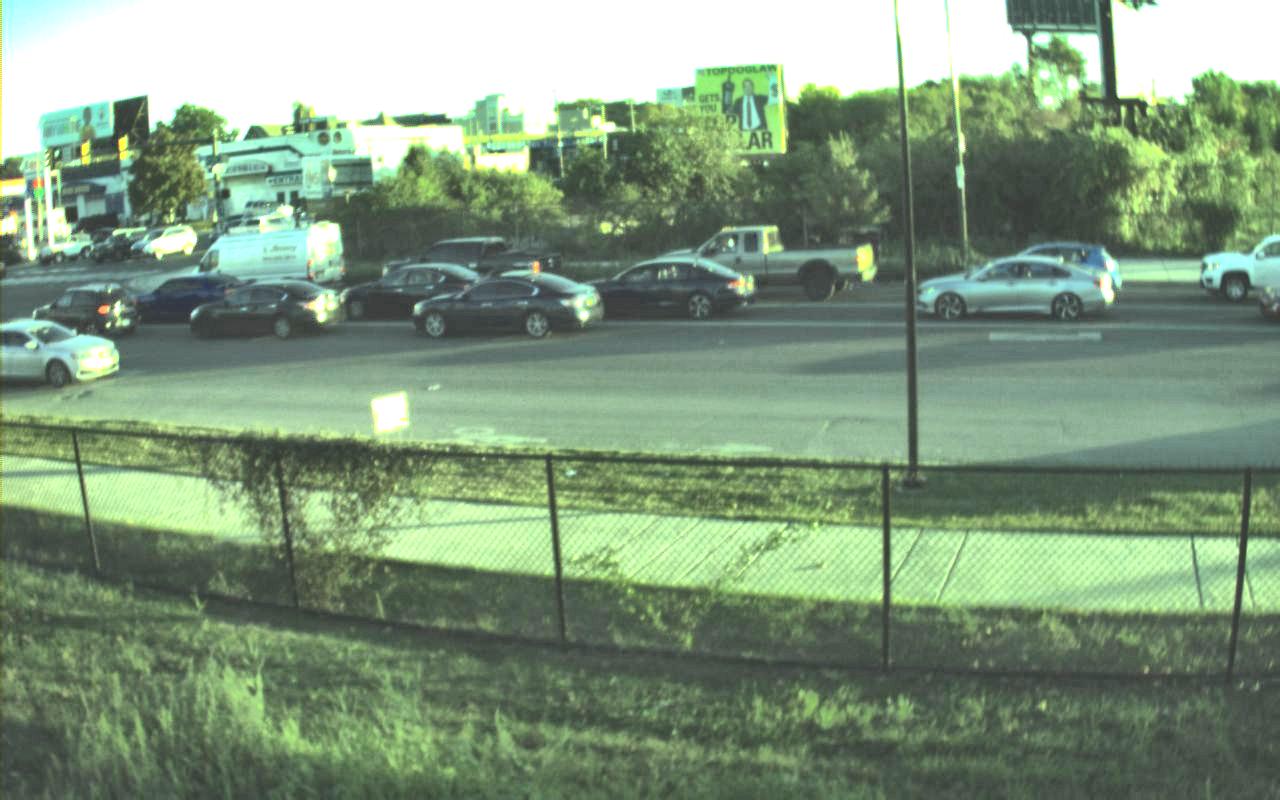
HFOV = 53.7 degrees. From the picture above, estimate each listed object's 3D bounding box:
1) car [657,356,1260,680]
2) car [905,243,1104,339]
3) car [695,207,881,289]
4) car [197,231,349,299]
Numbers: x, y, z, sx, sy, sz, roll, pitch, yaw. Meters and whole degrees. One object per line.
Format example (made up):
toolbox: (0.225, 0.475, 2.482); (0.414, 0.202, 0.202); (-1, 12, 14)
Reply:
car: (2.719, 0.901, 10.176); (4.718, 1.686, 2.040); (6, 17, 22)
car: (8.715, -2.602, 29.027); (4.652, 1.633, 2.016); (5, 17, 19)
car: (4.142, -4.267, 34.845); (4.831, 1.742, 2.057); (5, 17, 19)
car: (-12.430, -4.556, 40.889); (4.904, 1.803, 2.106); (5, 17, 18)
